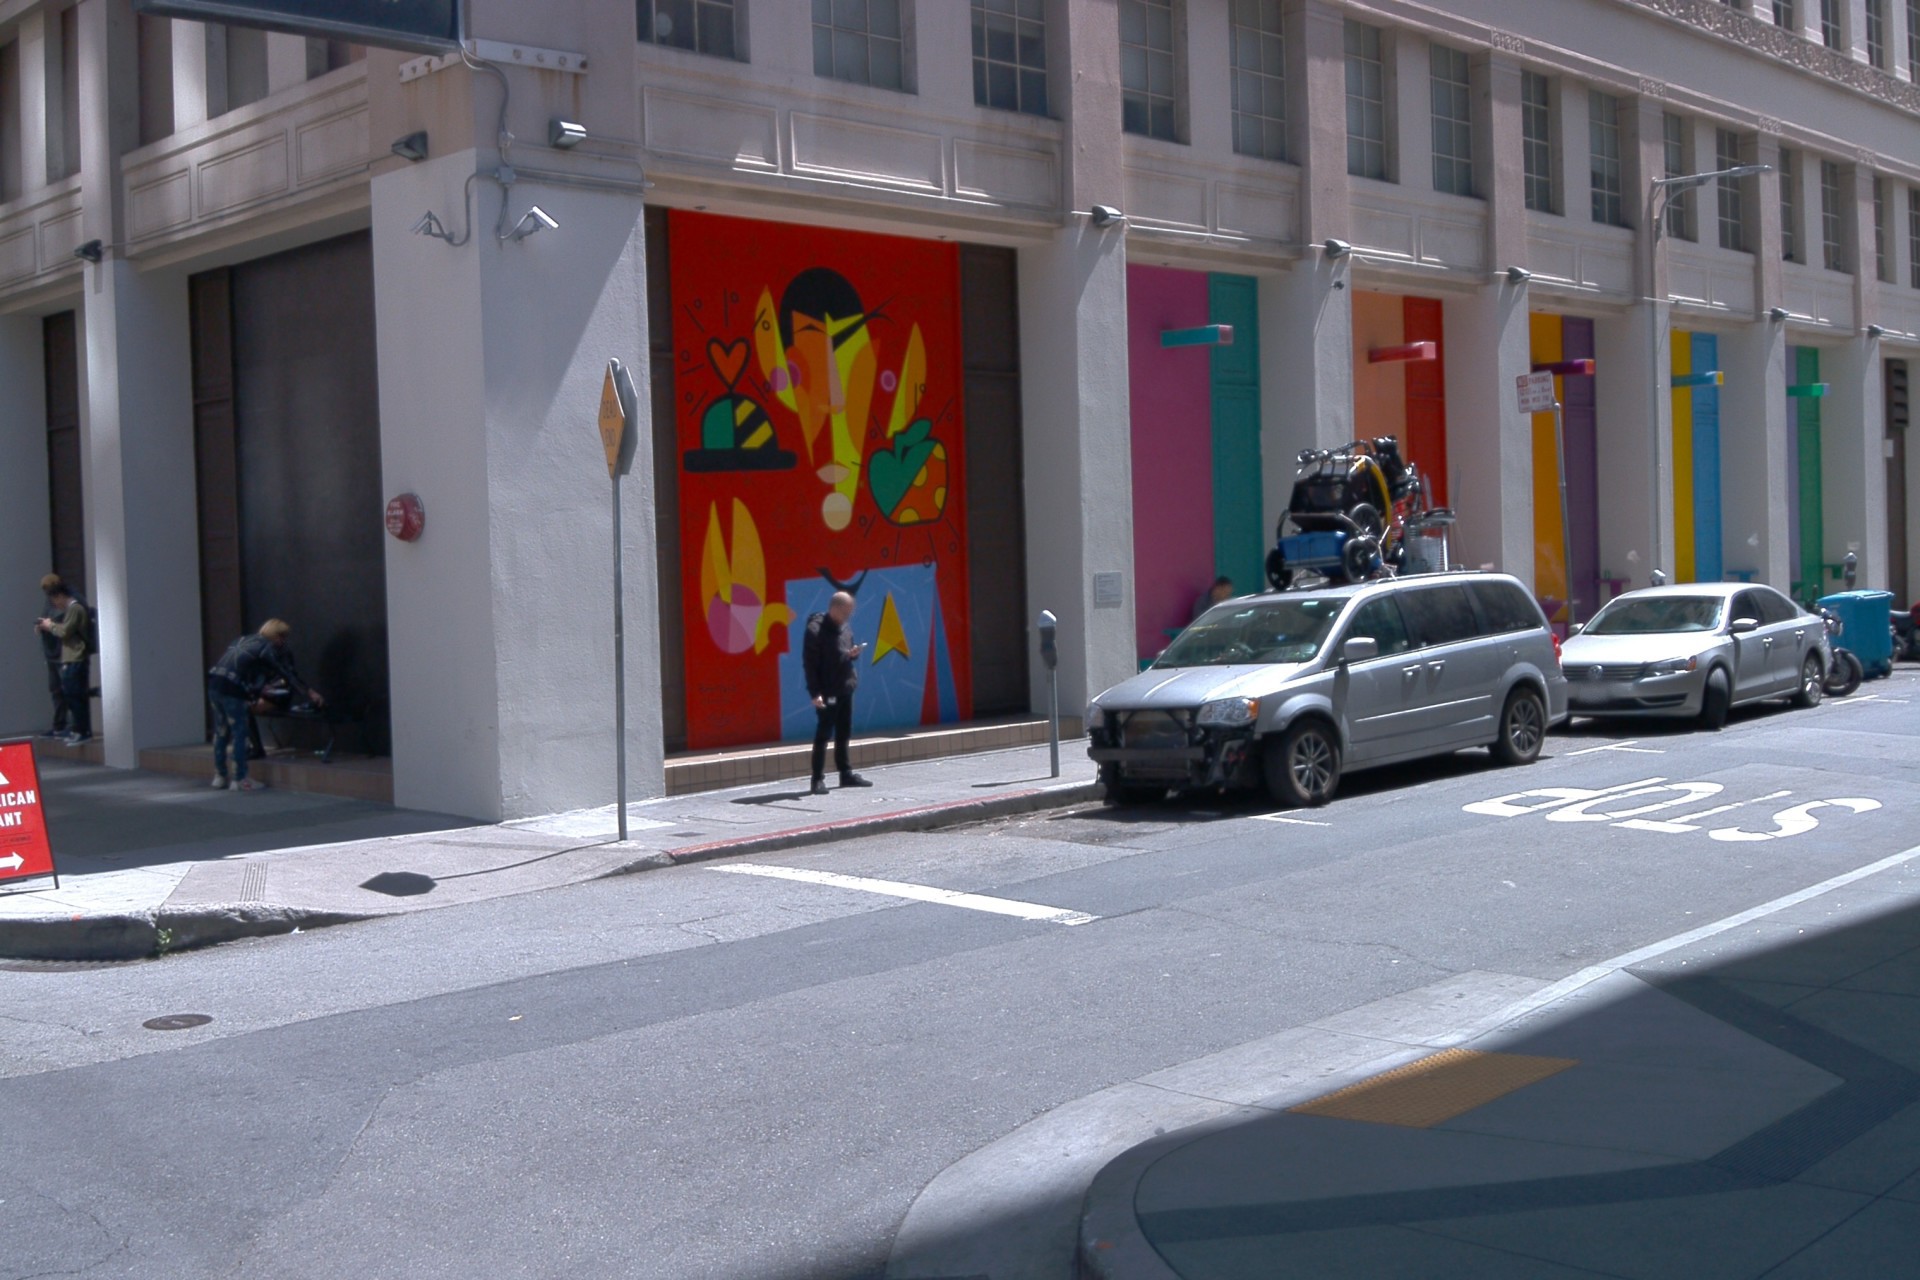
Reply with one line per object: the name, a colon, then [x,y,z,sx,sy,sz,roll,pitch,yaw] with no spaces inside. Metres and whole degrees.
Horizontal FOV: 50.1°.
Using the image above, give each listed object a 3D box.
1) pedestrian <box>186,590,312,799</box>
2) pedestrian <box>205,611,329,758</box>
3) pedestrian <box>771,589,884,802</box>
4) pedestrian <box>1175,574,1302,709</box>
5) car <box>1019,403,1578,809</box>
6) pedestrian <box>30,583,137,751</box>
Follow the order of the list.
pedestrian: [-6.449,0.472,18.647,0.674,1.838,0.853,0,0,42]
pedestrian: [-6.433,0.398,19.089,0.747,1.328,0.832,0,0,44]
pedestrian: [-1.109,0.447,17.218,0.751,1.740,0.573,0,0,-44]
pedestrian: [3.077,0.009,22.738,1.166,1.457,0.752,0,0,43]
car: [3.048,-0.277,17.698,2.318,2.980,4.990,0,1,44]
pedestrian: [-9.304,0.273,21.820,0.701,1.744,0.827,0,0,44]
